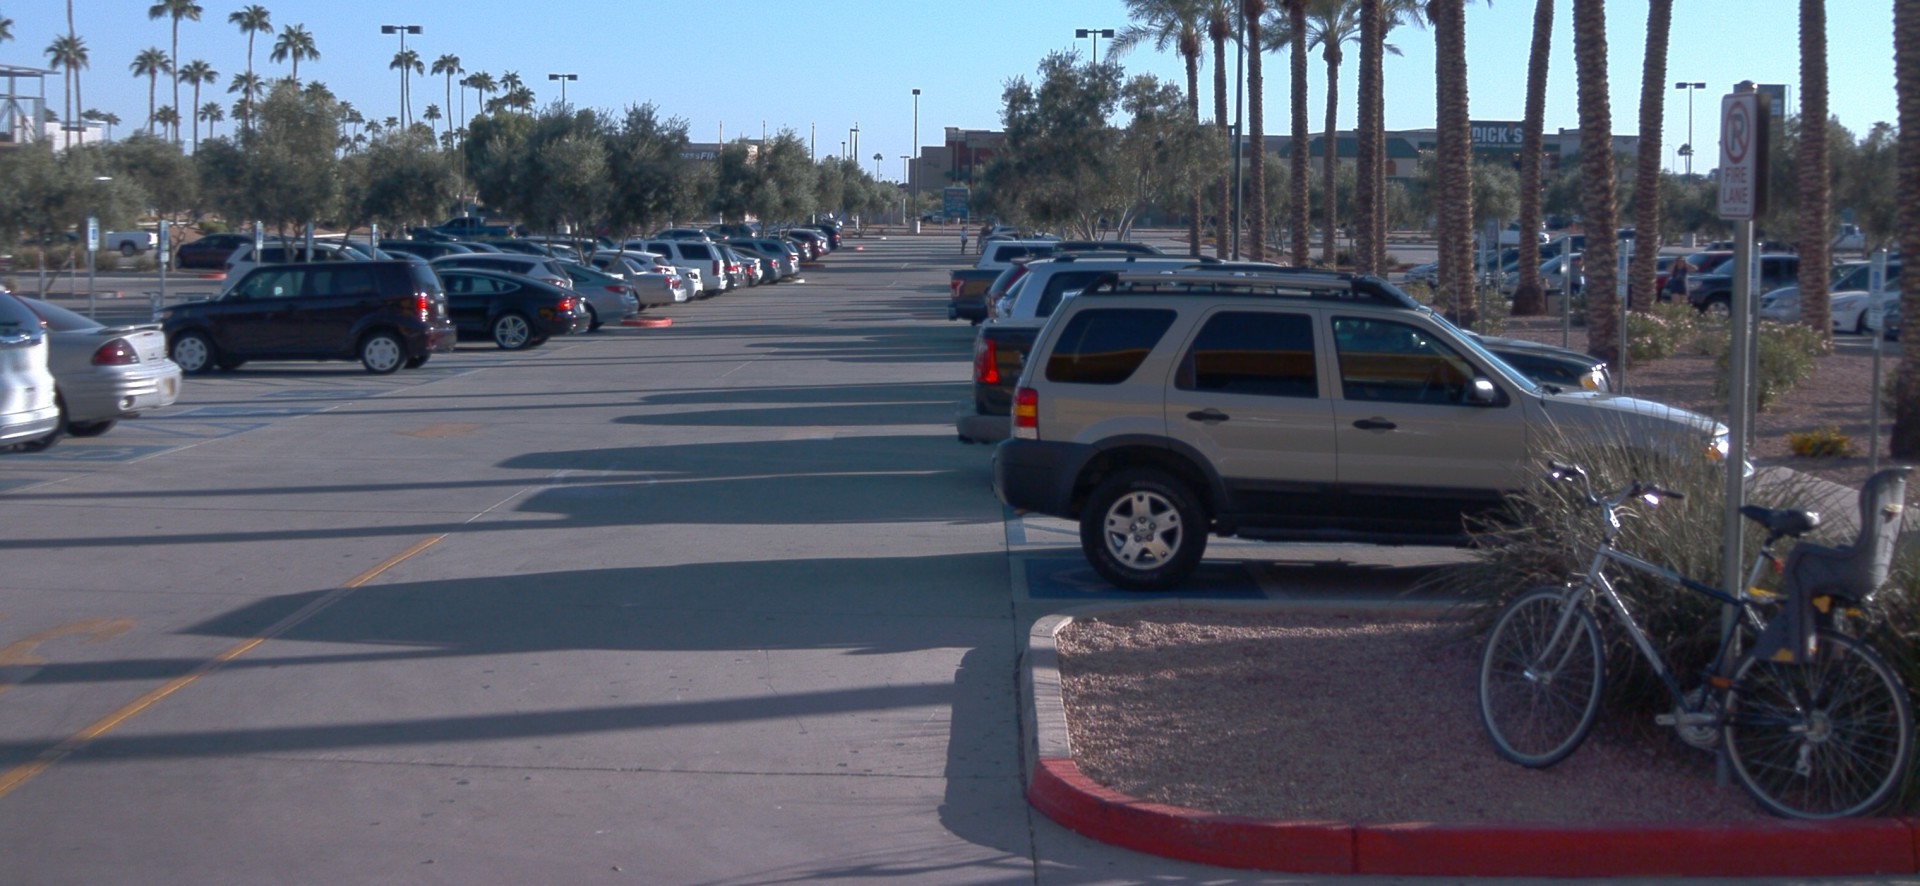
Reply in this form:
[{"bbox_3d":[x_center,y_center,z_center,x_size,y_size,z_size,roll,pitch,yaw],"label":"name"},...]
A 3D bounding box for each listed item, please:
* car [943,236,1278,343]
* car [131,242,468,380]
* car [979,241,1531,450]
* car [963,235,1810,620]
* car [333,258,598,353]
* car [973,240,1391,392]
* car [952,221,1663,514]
[{"bbox_3d":[2.742,-2.918,39.074,6.084,1.845,2.452,1,4,-1],"label":"car"},{"bbox_3d":[-9.306,-1.910,29.479,4.169,1.816,1.897,1,3,-2],"label":"car"},{"bbox_3d":[2.725,-1.005,19.927,4.916,1.765,2.428,1,4,4],"label":"car"},{"bbox_3d":[2.434,-0.209,12.466,4.569,1.986,2.008,2,3,7],"label":"car"},{"bbox_3d":[-8.563,-2.411,36.209,4.169,1.516,1.898,1,4,-2],"label":"car"},{"bbox_3d":[2.742,-1.661,26.499,5.084,1.755,2.150,1,4,1],"label":"car"},{"bbox_3d":[2.657,-0.695,16.886,5.349,2.135,2.267,1,4,1],"label":"car"}]
